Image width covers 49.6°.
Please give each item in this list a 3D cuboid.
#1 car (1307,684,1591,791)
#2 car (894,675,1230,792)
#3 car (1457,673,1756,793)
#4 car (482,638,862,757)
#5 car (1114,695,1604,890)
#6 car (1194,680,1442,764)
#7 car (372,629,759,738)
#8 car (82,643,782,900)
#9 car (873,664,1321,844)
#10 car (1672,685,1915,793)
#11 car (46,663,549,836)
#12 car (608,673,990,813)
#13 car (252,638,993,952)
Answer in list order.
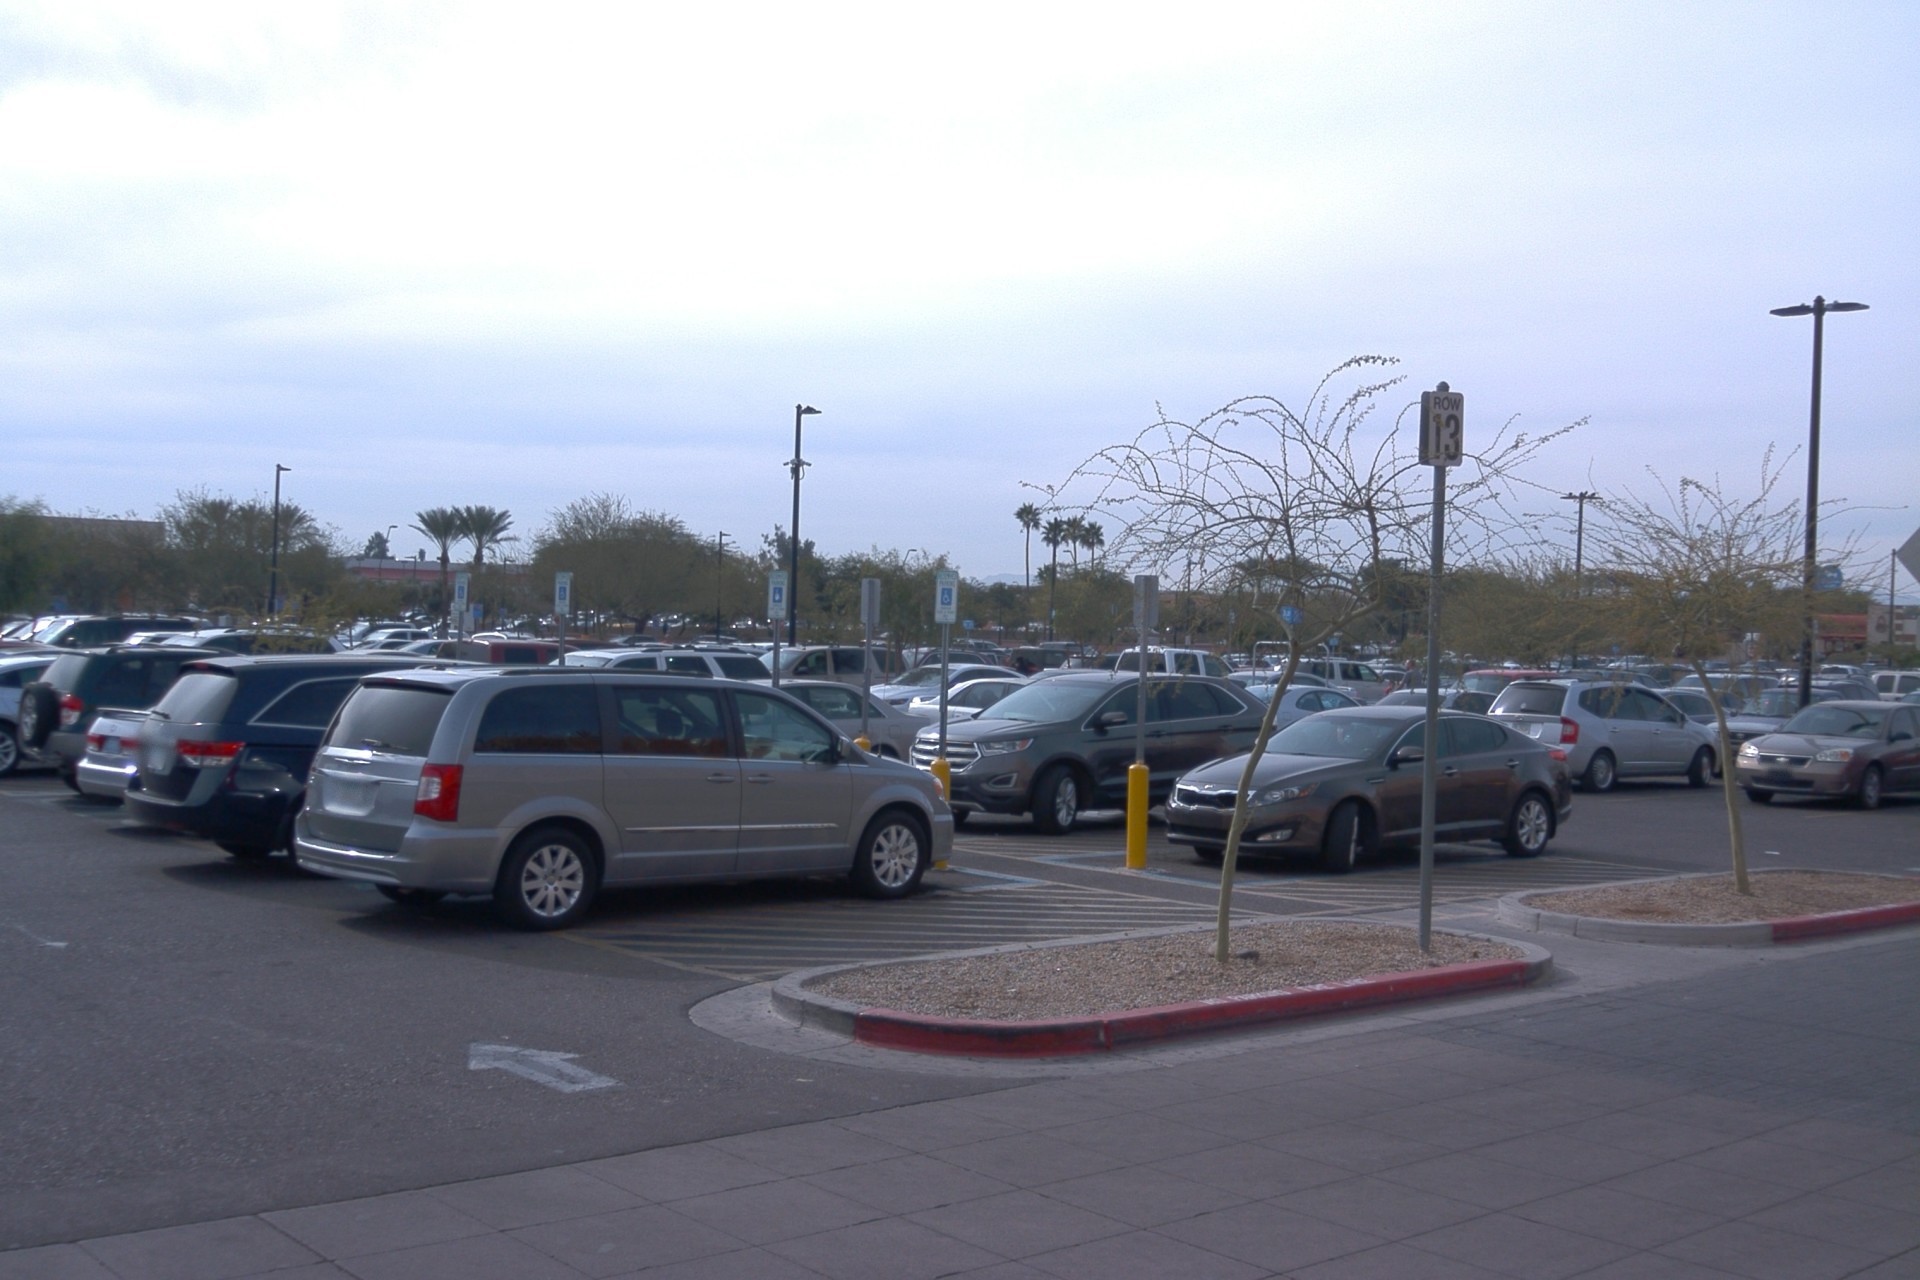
[{"bbox_3d":[8.030,1.549,33.871,4.752,1.580,2.105,2,-1,-41],"label":"car"},{"bbox_3d":[1.430,1.323,30.724,2.016,1.500,4.862,2,-1,-45],"label":"car"},{"bbox_3d":[9.972,1.389,31.857,4.752,1.660,2.105,2,-1,-40],"label":"car"},{"bbox_3d":[-3.810,0.765,28.028,4.748,1.460,2.027,2,-1,-43],"label":"car"},{"bbox_3d":[3.959,1.380,20.101,4.784,1.610,2.143,2,-1,-41],"label":"car"},{"bbox_3d":[6.281,1.412,36.172,4.345,1.340,1.914,2,-1,-41],"label":"car"},{"bbox_3d":[-5.637,0.633,30.063,5.056,1.450,2.220,2,-1,-42],"label":"car"},{"bbox_3d":[-4.336,1.013,17.717,5.324,1.850,2.261,2,-1,-43],"label":"car"},{"bbox_3d":[1.591,1.184,22.812,4.789,1.740,2.142,2,-1,-42],"label":"car"},{"bbox_3d":[14.287,1.646,35.474,4.419,1.690,2.034,2,-1,-41],"label":"car"},{"bbox_3d":[-6.416,1.016,20.394,4.279,1.500,1.896,2,-1,-43],"label":"car"},{"bbox_3d":[-1.922,1.227,25.840,2.059,1.550,4.458,0,-1,45],"label":"car"},{"bbox_3d":[-2.310,1.011,15.349,5.067,1.930,2.133,2,-1,-44],"label":"car"}]
